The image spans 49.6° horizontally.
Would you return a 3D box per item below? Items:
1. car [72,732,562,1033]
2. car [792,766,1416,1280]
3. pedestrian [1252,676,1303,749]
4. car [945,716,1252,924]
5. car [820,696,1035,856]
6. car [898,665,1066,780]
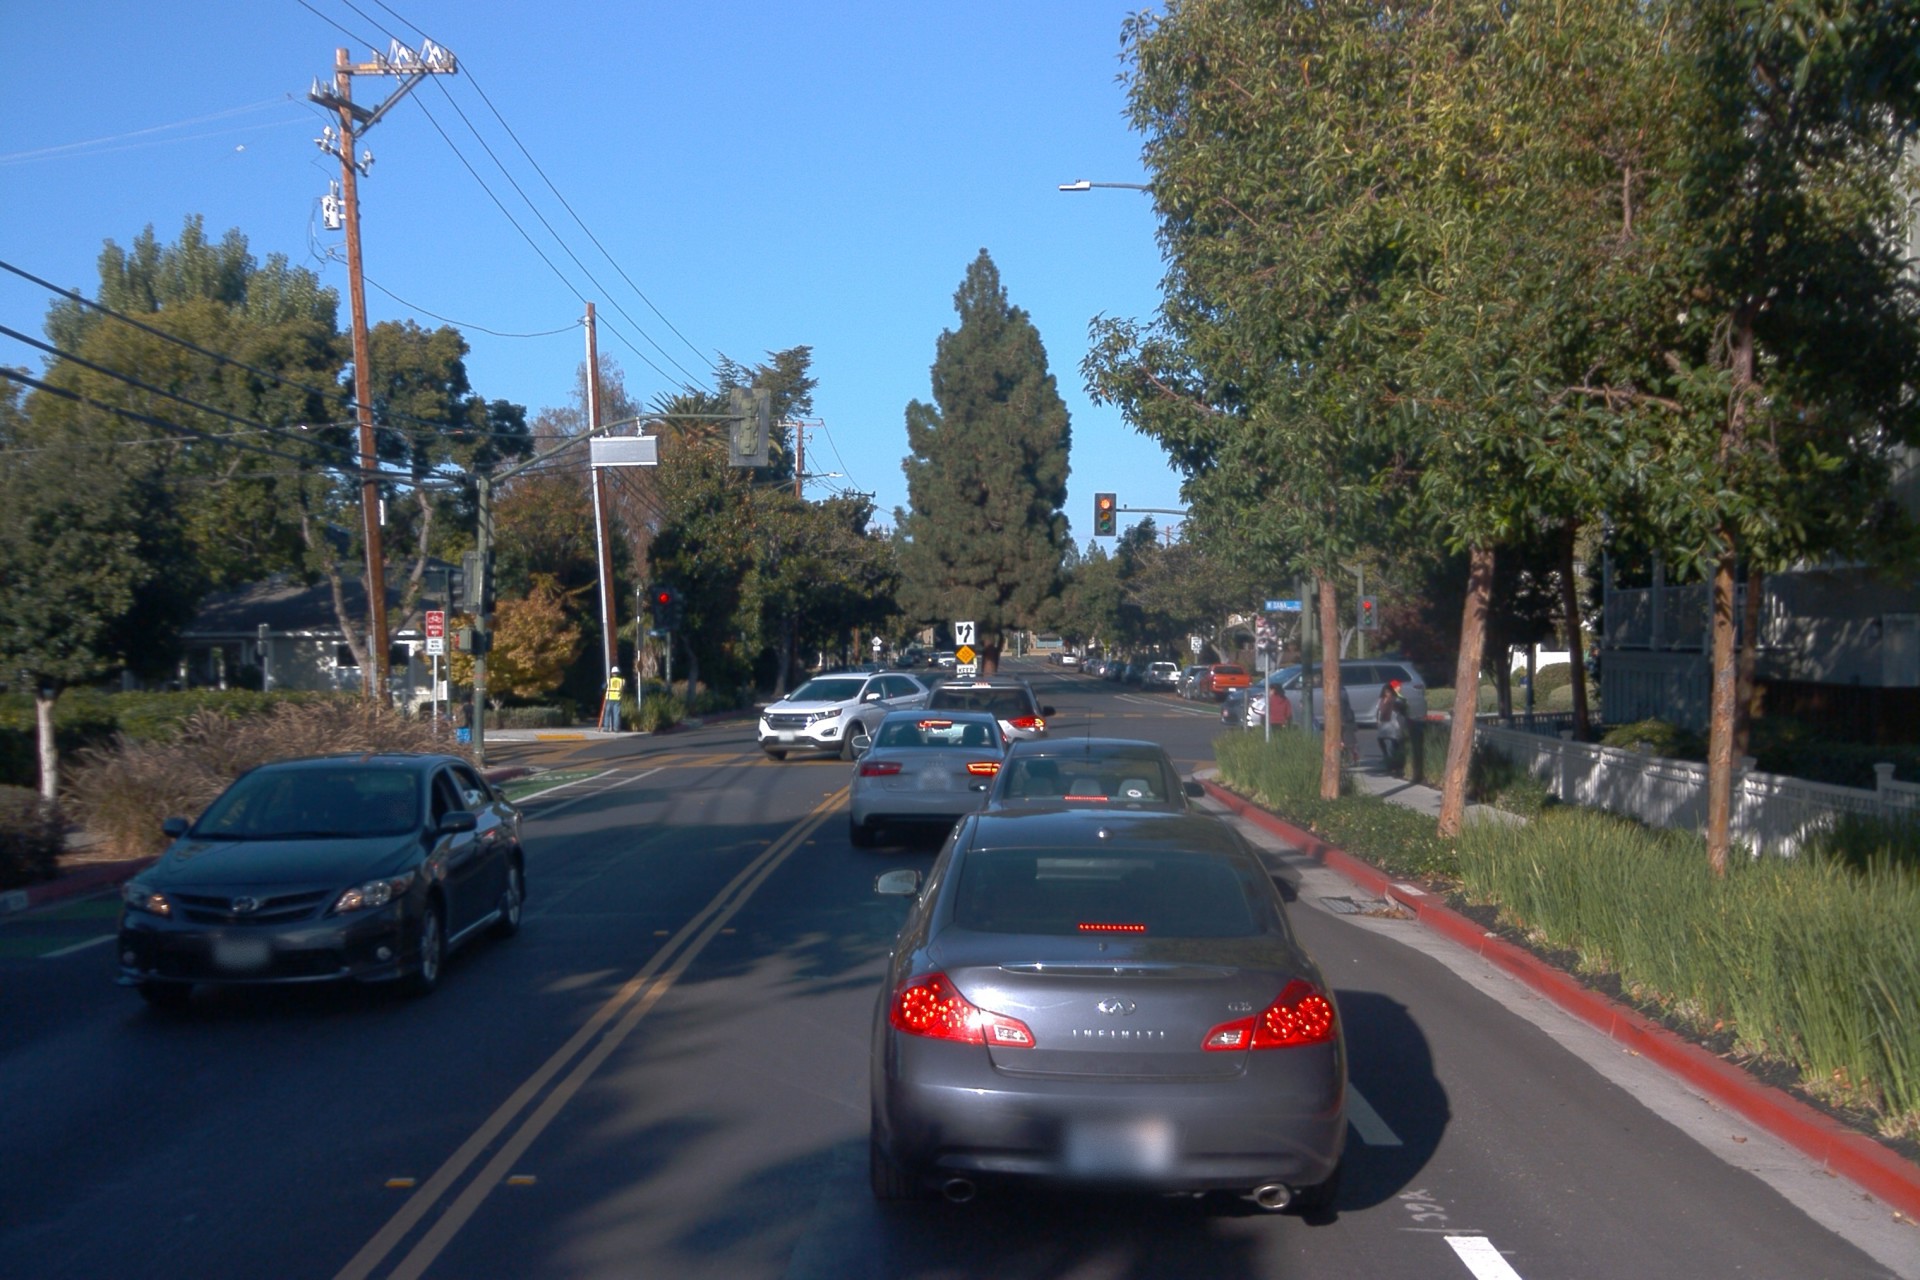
[{"bbox_3d":[-4.161,1.508,14.302,2.028,1.530,4.480,1,0,-1],"label":"car"},{"bbox_3d":[0.566,1.427,9.064,2.033,1.460,4.435,1,0,3],"label":"car"},{"bbox_3d":[5.738,1.301,37.530,0.847,1.260,0.860,1,0,12],"label":"pedestrian"},{"bbox_3d":[0.991,1.273,15.845,2.028,1.210,4.035,1,0,2],"label":"car"},{"bbox_3d":[-0.262,1.450,23.532,2.122,1.500,4.397,1,0,3],"label":"car"},{"bbox_3d":[0.354,1.179,31.289,2.317,1.510,4.744,1,0,1],"label":"car"}]
